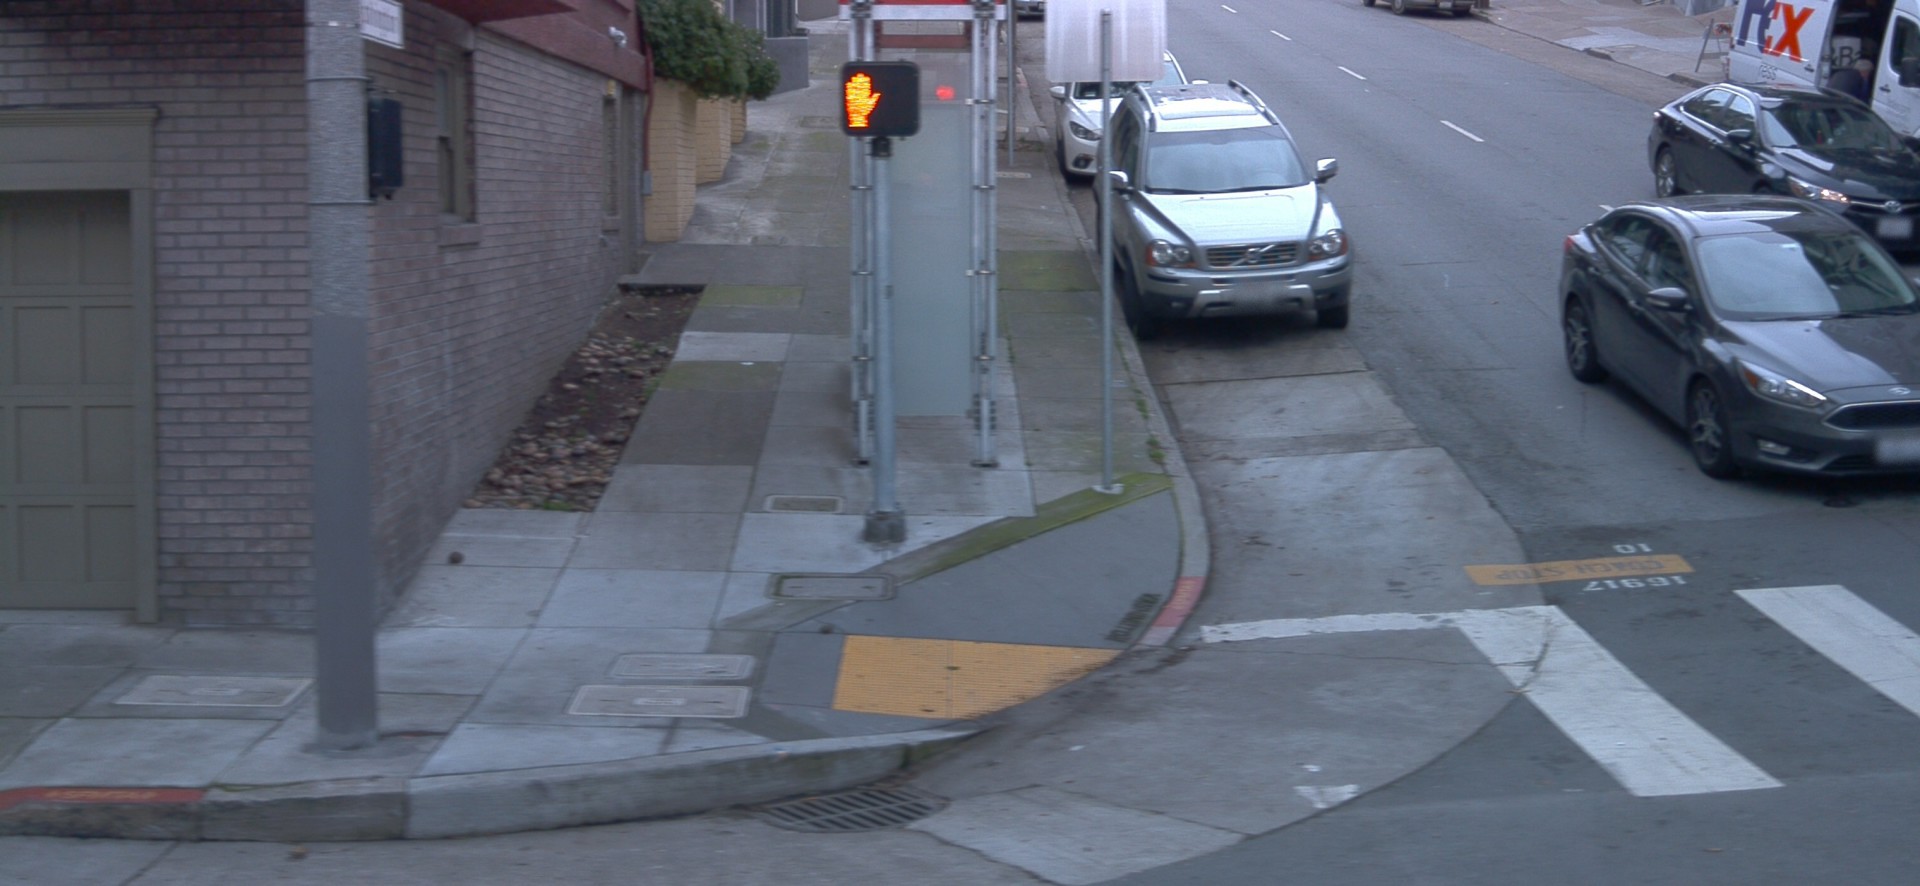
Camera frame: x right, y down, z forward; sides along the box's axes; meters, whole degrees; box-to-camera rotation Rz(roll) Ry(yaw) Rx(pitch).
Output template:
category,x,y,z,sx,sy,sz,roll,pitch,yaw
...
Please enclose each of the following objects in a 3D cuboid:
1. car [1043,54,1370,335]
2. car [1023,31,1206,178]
category,x,y,z,sx,sy,sz,roll,pitch,yaw
car,2.058,-2.273,18.837,2.269,2.207,4.933,0,6,-1
car,1.906,-4.316,26.847,2.120,1.710,4.602,0,6,1
